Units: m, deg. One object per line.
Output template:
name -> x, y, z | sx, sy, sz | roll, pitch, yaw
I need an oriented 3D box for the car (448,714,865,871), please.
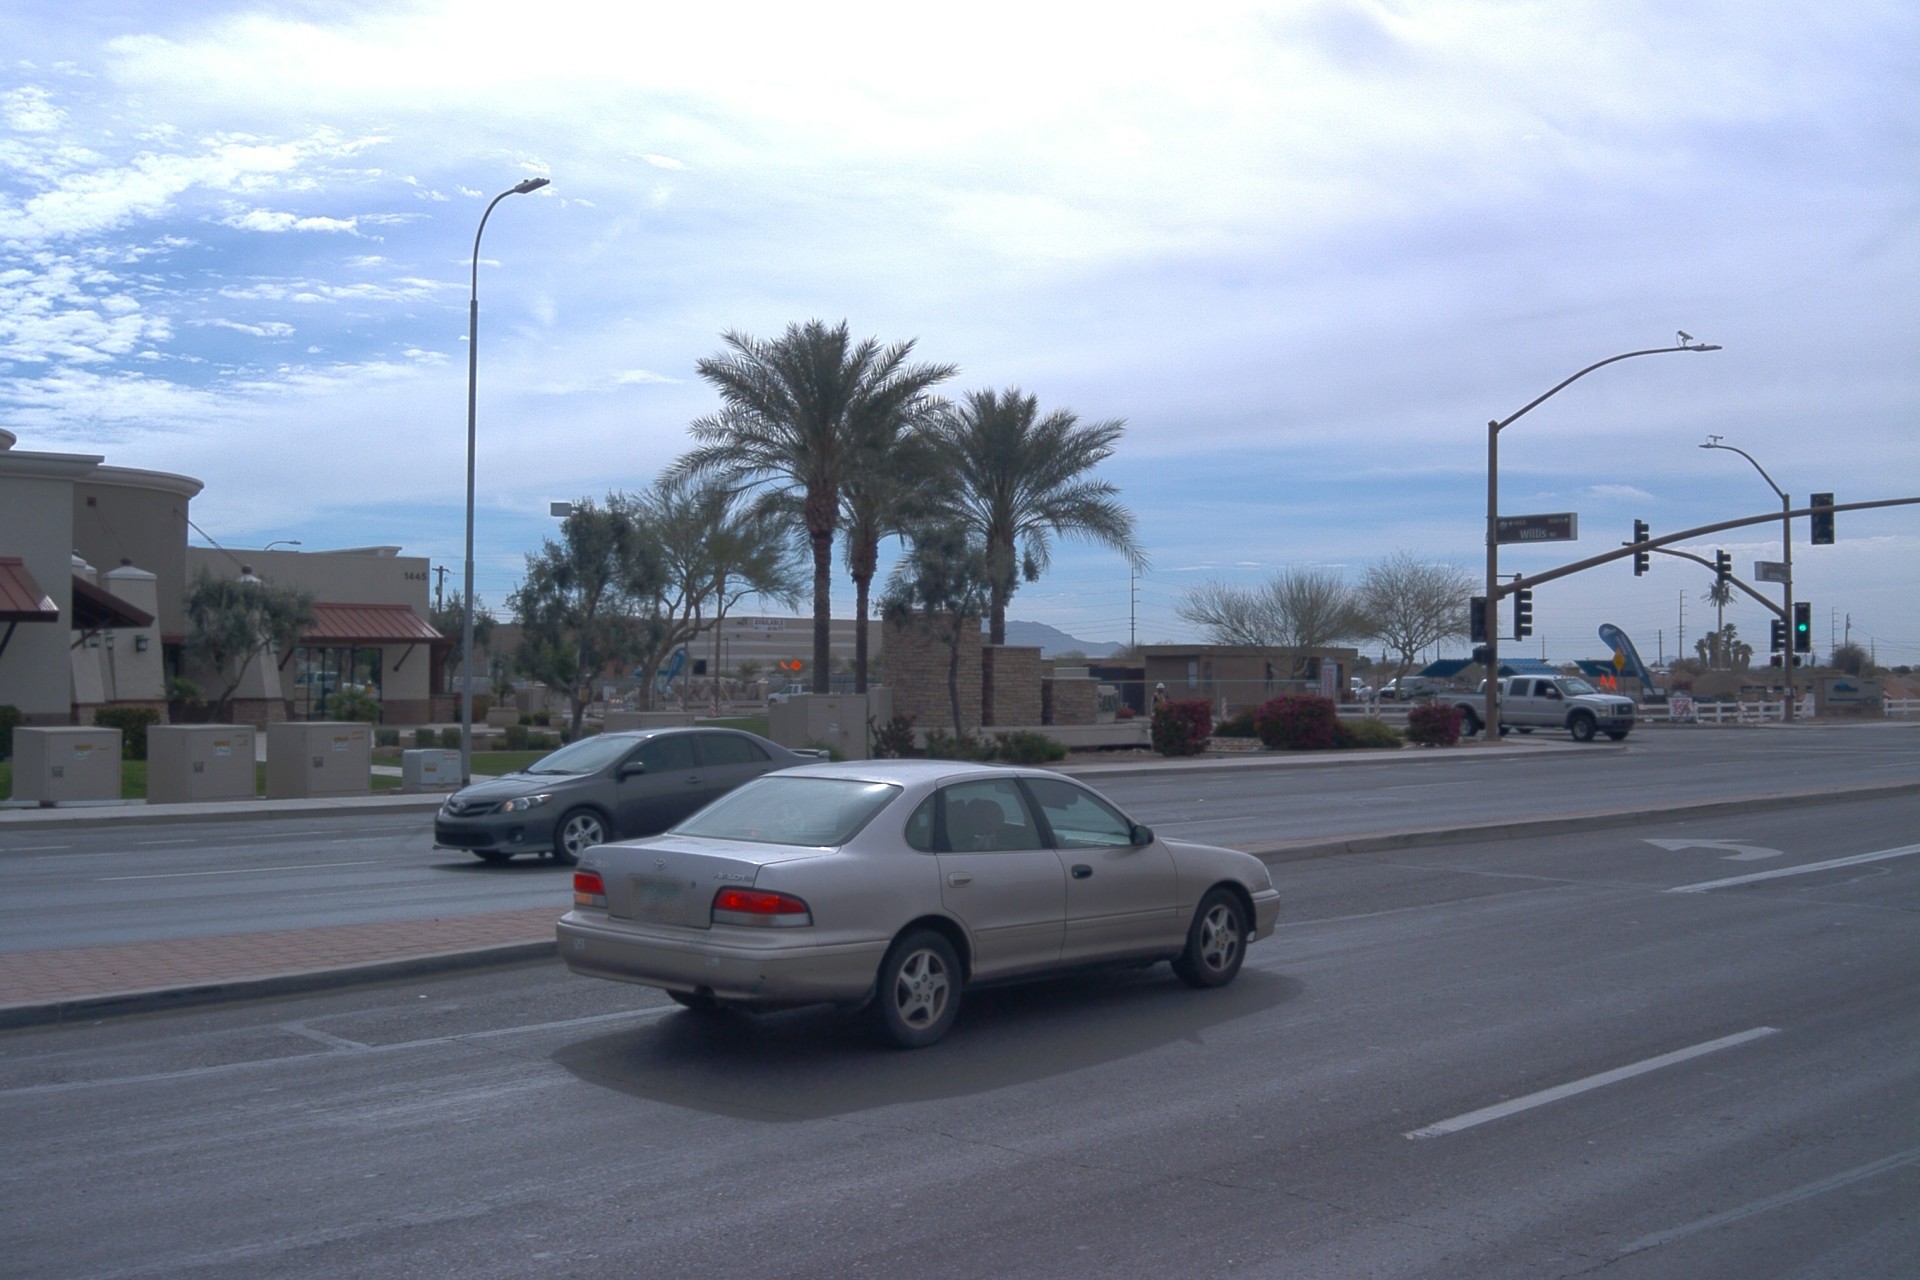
car -> -3.386, 1.660, 23.667 | 4.453, 1.500, 1.857 | 1, 0, -44

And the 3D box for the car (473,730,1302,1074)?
car -> -0.188, 1.323, 12.079 | 2.038, 1.400, 4.883 | 1, 0, 41
